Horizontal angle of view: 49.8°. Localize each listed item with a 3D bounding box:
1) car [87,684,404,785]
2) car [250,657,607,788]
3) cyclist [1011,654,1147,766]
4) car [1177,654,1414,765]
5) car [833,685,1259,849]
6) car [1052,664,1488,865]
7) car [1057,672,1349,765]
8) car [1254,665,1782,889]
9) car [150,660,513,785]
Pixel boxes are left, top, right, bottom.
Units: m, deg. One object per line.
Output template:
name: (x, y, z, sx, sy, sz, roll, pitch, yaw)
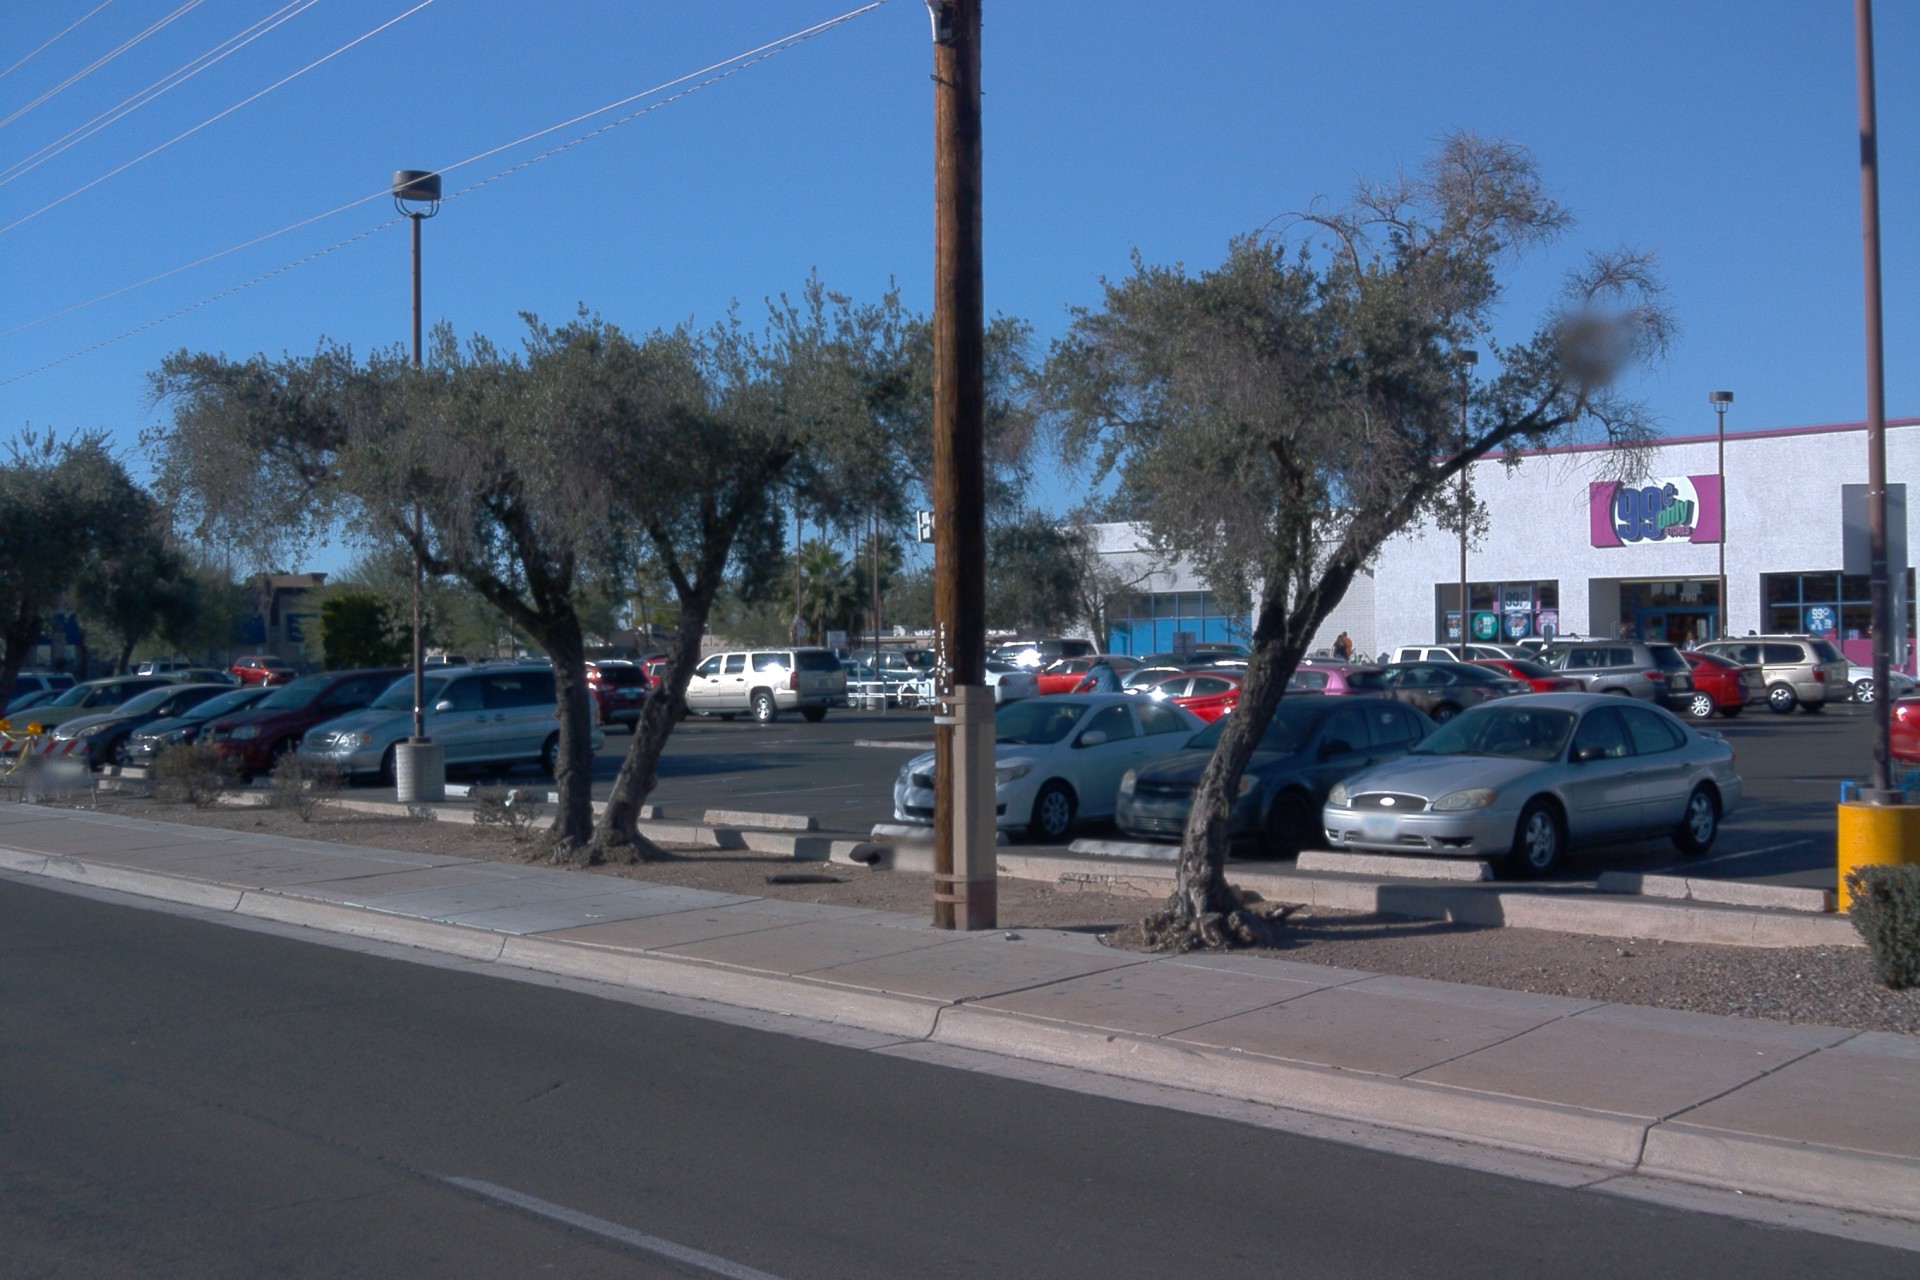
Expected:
car: (-12.358, 1.587, 36.014, 2.117, 1.580, 4.775, -1, -1, 42)
car: (-8.256, 1.225, 32.499, 2.296, 1.890, 4.980, -1, -1, 42)
cyclist: (1.908, 1.109, 33.382, 0.986, 1.760, 2.036, 0, -1, -44)
car: (6.009, 1.218, 37.331, 3.880, 1.890, 1.785, -1, -1, 44)
car: (1.010, 1.259, 22.087, 2.065, 1.510, 4.511, -1, -1, 44)
car: (3.134, 1.116, 20.308, 2.072, 1.730, 4.374, -1, -1, 44)
car: (4.066, 1.287, 35.159, 4.638, 1.460, 2.010, -1, -1, 44)
car: (5.035, 1.076, 18.226, 5.055, 1.680, 2.102, 0, -1, -43)
car: (-10.310, 1.293, 34.287, 2.316, 1.890, 5.318, -1, -1, 42)
